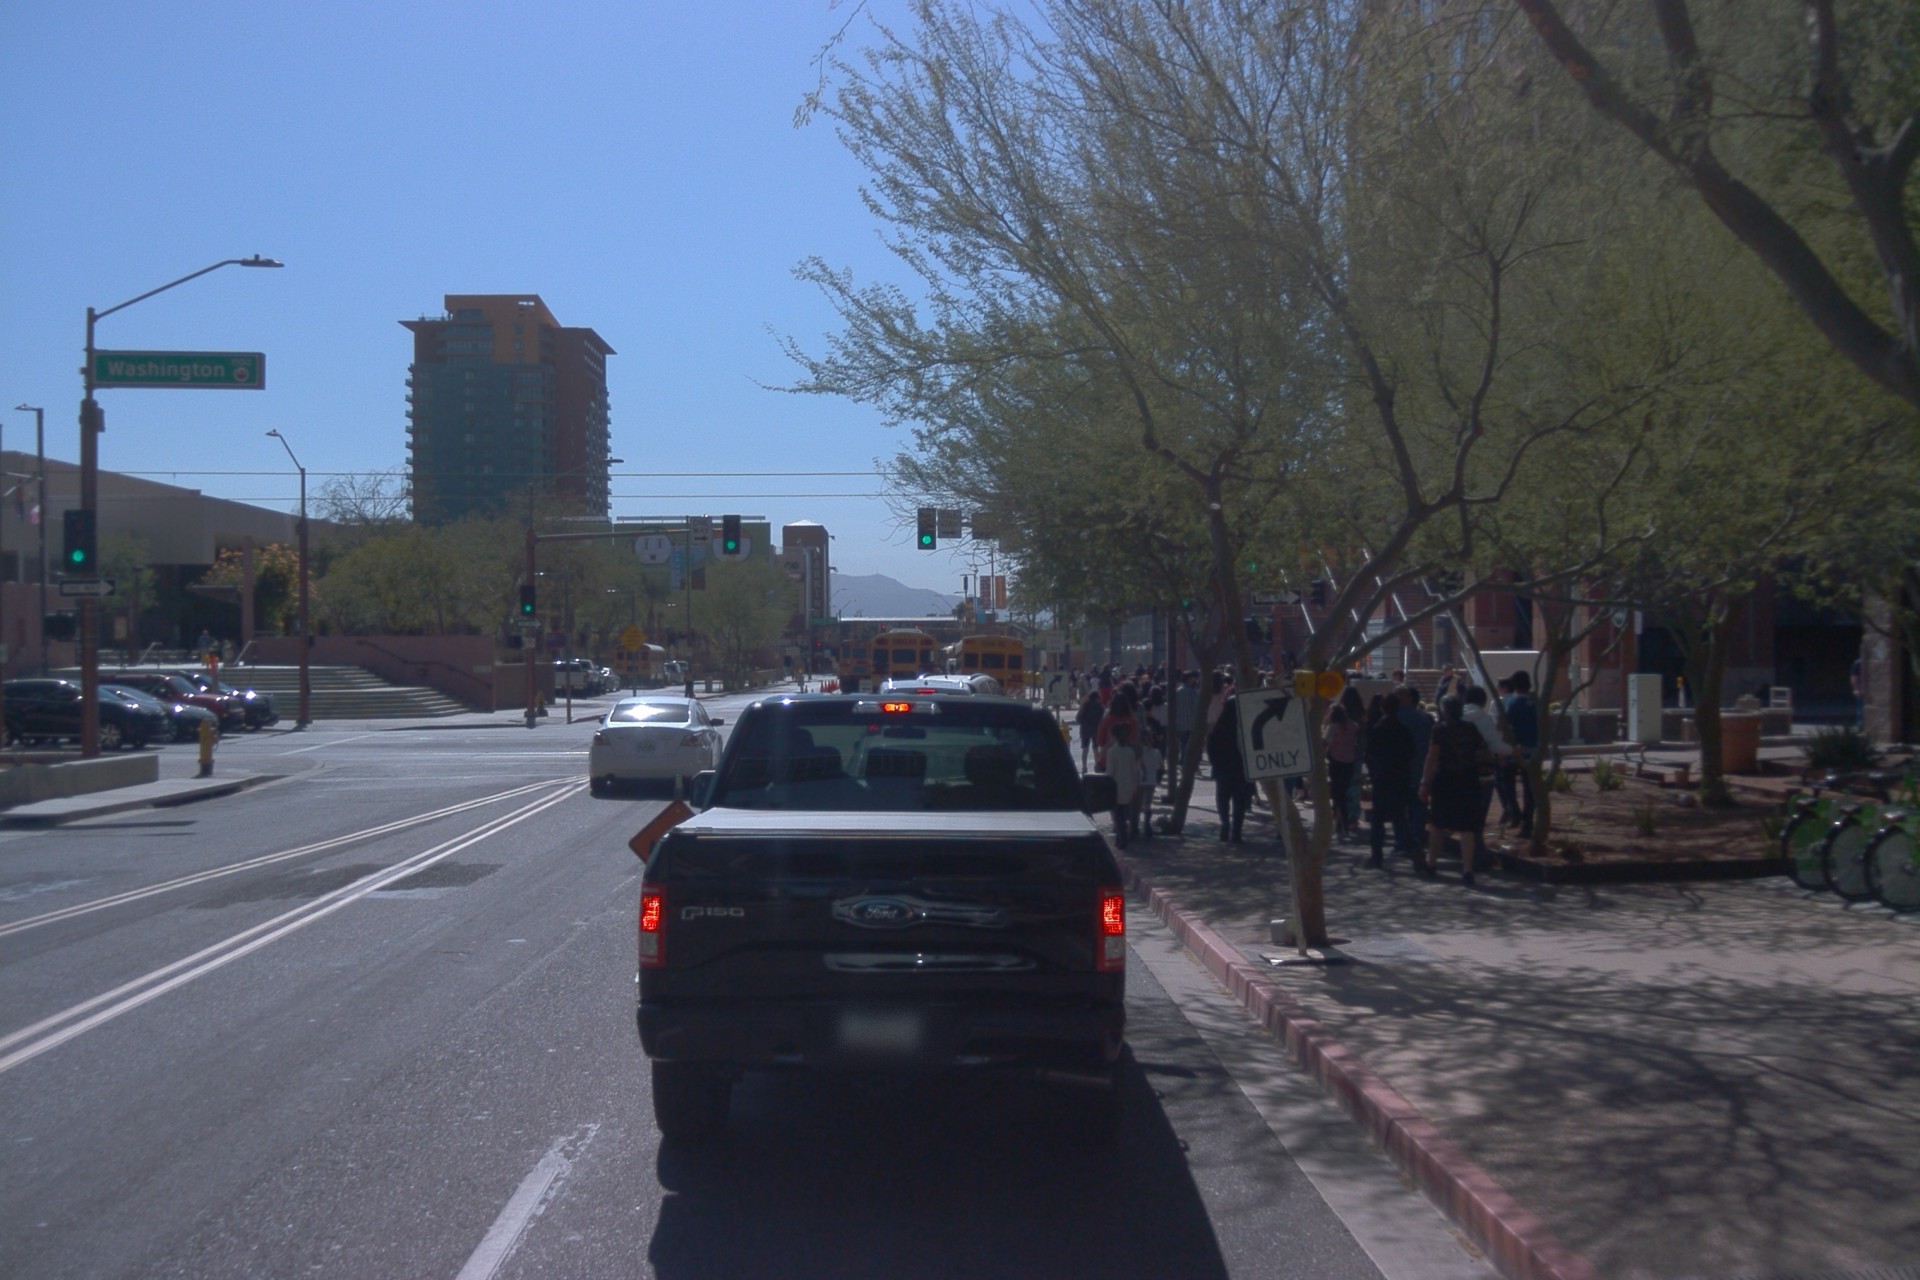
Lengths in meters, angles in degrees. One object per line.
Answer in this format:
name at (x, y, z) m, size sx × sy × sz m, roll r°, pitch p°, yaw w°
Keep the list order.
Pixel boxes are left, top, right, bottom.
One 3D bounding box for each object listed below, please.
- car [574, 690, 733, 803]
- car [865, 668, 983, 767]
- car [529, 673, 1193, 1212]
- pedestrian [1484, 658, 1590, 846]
car at (-4.800, 1.642, 33.200) m, size 2.094 × 1.570 × 4.889 m, roll 0°, pitch 0°, yaw -3°
car at (-0.516, 1.187, 33.158) m, size 1.753 × 1.430 × 4.270 m, roll 0°, pitch 0°, yaw 1°
car at (-0.356, 1.178, 10.475) m, size 2.486 × 1.950 × 5.329 m, roll 0°, pitch 0°, yaw 0°
pedestrian at (5.896, 1.129, 21.291) m, size 0.835 × 1.880 × 0.792 m, roll 0°, pitch 0°, yaw -2°
